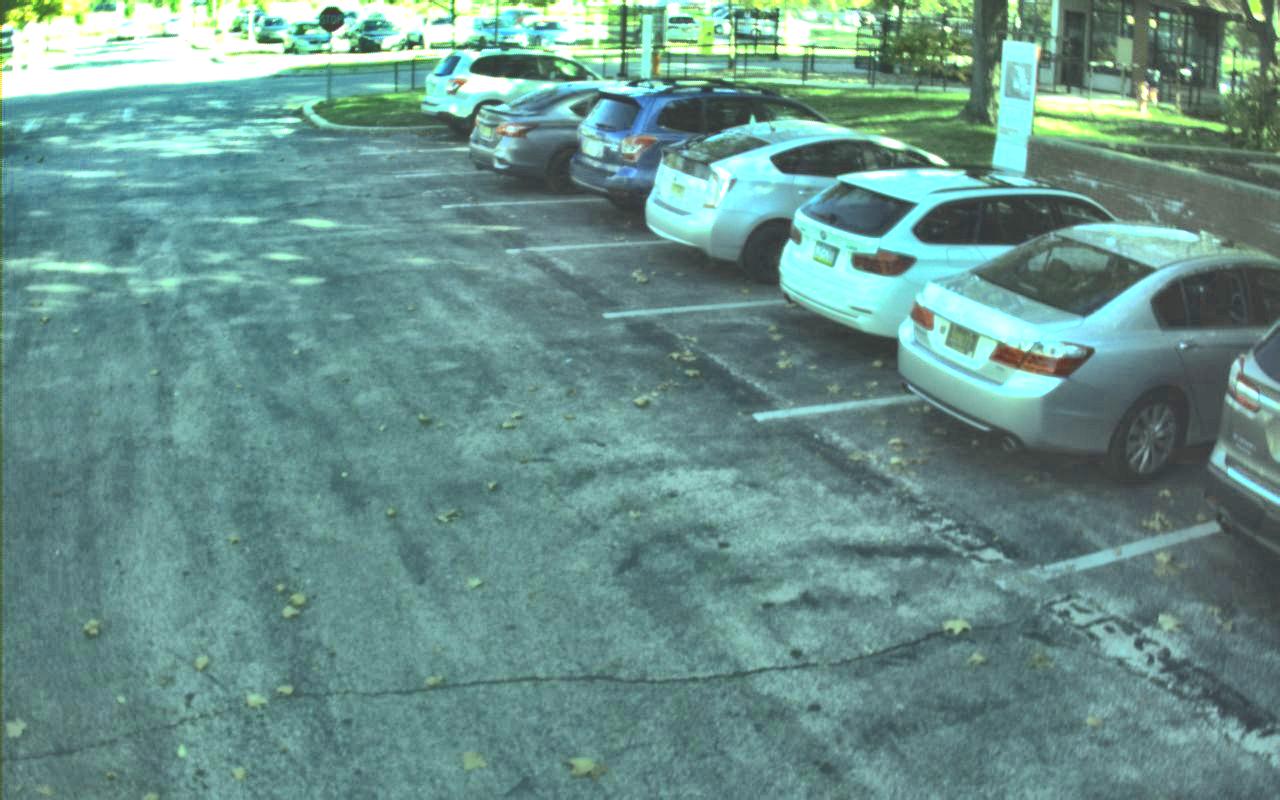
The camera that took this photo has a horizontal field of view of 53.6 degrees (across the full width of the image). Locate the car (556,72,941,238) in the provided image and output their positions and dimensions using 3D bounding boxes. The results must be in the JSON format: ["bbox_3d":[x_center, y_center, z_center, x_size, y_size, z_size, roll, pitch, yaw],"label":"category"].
[{"bbox_3d":[1.395,-3.163,15.423,4.440,1.700,1.950,-8,18,-23],"label":"car"}]

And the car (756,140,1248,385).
[{"bbox_3d":[3.360,-1.402,10.767,4.333,1.569,1.911,-8,18,-22],"label":"car"}]

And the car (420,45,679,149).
[{"bbox_3d":[-1.712,-5.744,23.171,4.473,1.670,1.951,-8,18,-23],"label":"car"}]

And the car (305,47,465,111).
[{"bbox_3d":[-7.956,-9.937,37.550,4.798,1.642,2.013,-7,17,-19],"label":"car"}]

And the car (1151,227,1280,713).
[{"bbox_3d":[5.123,0.091,5.859,4.419,1.644,1.958,-7,17,-19],"label":"car"}]

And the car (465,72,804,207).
[{"bbox_3d":[-0.081,-3.795,17.696,4.440,1.560,1.940,-8,18,-22],"label":"car"}]

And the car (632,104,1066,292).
[{"bbox_3d":[2.285,-2.270,13.137,4.325,1.565,1.899,-8,17,-21],"label":"car"}]

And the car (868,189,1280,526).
[{"bbox_3d":[3.967,-0.549,8.323,4.451,1.539,1.924,-8,18,-21],"label":"car"}]
